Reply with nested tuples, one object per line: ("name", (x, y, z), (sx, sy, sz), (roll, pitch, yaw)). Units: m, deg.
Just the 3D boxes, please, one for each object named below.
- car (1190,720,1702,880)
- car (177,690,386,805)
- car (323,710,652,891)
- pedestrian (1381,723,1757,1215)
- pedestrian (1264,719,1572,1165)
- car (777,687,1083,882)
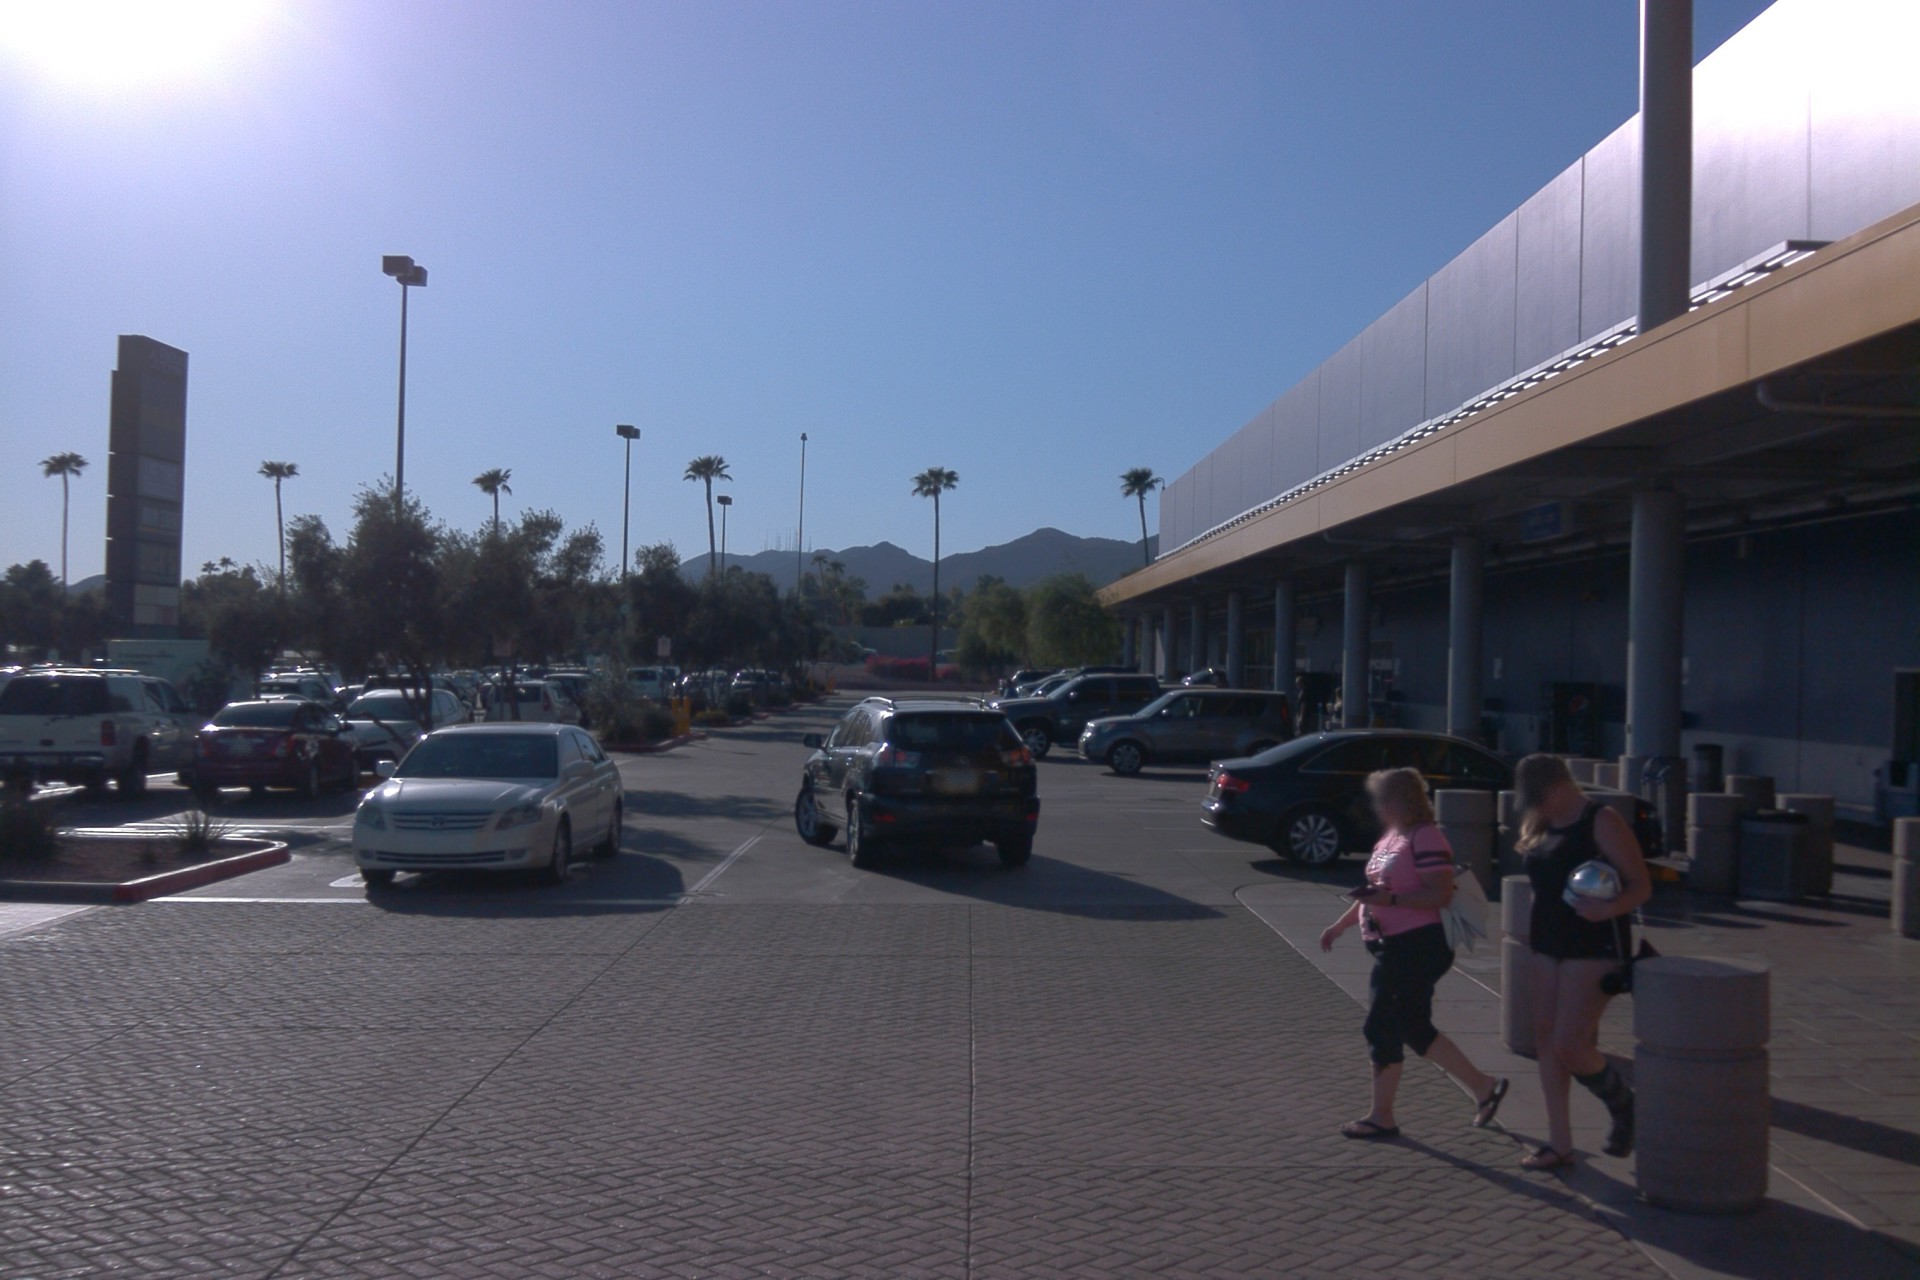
("car", (4.894, 1.616, 21.508), (4.792, 1.460, 2.078), (1, 0, 0))
("car", (-10.439, 1.613, 32.336), (1.866, 1.580, 4.286), (1, 0, 0))
("car", (-4.504, 1.489, 20.686), (2.148, 1.440, 4.950), (1, -1, 0))
("pedestrian", (2.430, 1.269, 8.417), (1.138, 1.830, 0.949), (1, 0, -9))
("pedestrian", (1.989, 1.273, 9.175), (1.000, 1.810, 1.000), (1, 0, -10))
("car", (-0.462, 1.435, 22.214), (2.199, 1.770, 4.575), (1, 0, -15))
